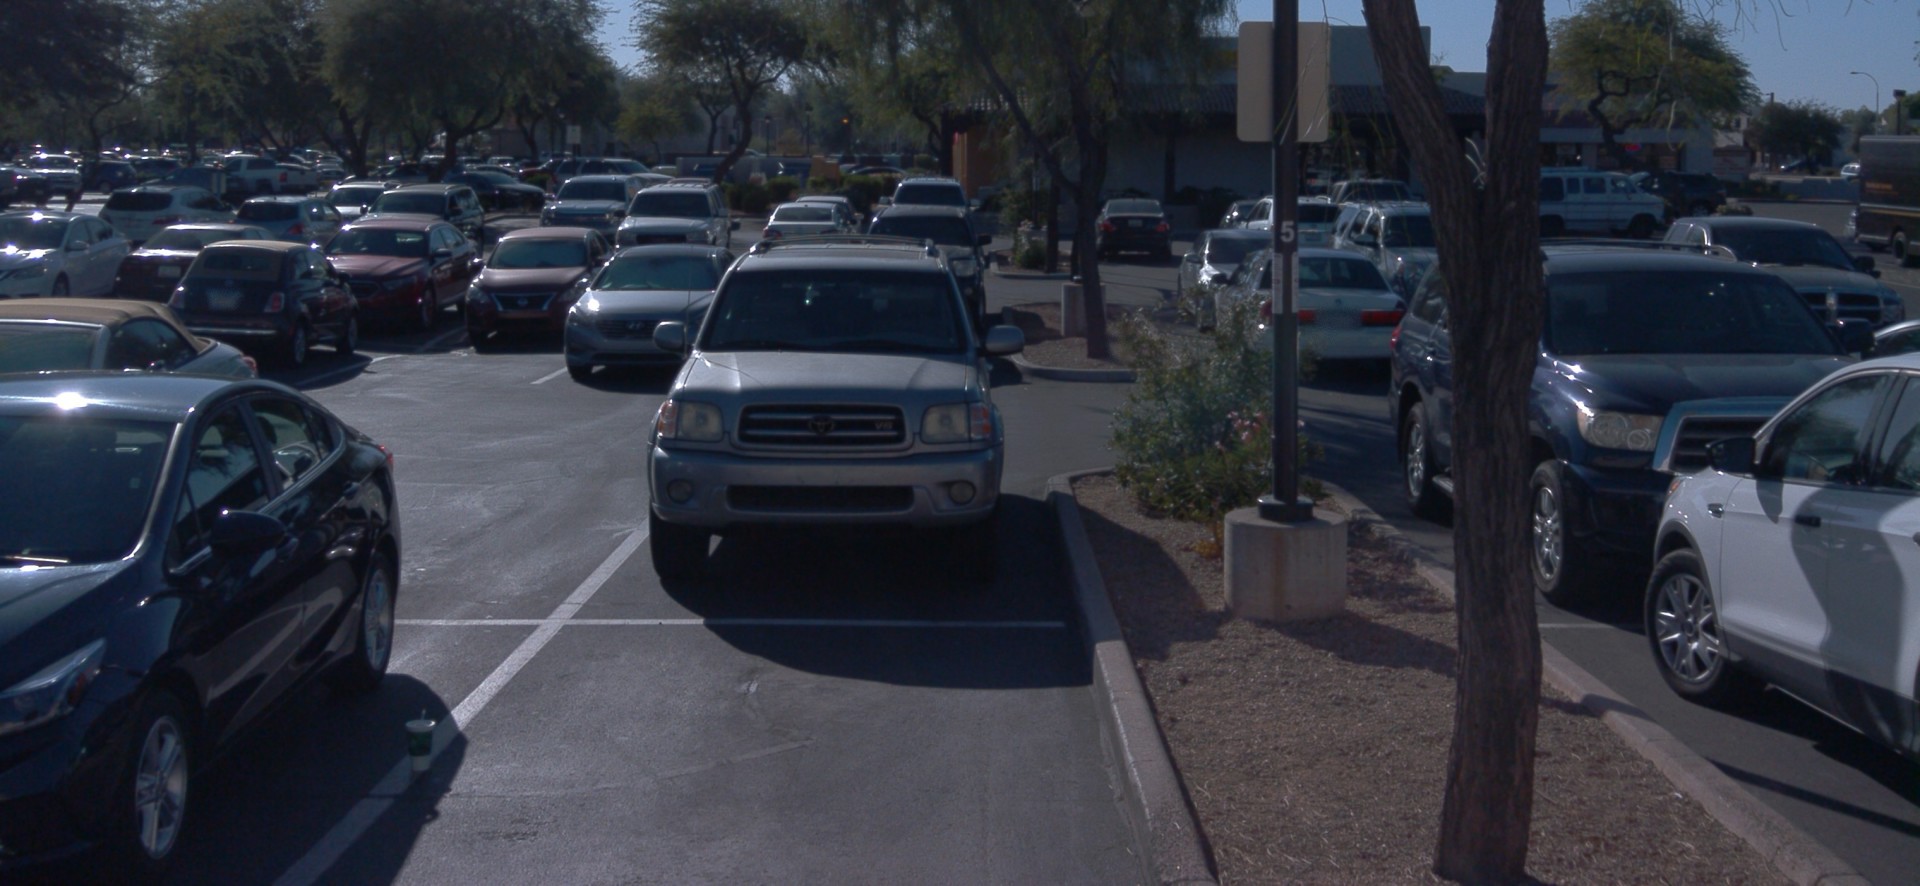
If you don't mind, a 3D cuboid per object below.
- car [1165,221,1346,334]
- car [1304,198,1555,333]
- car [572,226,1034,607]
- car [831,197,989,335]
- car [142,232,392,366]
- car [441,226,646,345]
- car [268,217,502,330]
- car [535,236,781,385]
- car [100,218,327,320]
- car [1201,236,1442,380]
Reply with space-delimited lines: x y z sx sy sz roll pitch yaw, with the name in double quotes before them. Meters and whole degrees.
"car" 4.389 -2.572 31.489 2.127 1.553 4.507 1 6 0
"car" 7.096 -2.792 32.033 2.482 1.891 5.237 0 5 -3
"car" -0.798 -0.408 13.388 2.382 1.941 5.207 1 5 0
"car" -0.658 -2.753 31.609 2.086 1.901 5.342 1 5 2
"car" -8.672 -1.890 26.299 1.730 1.533 3.845 1 5 3
"car" -6.043 -2.385 30.637 2.010 1.593 4.474 1 5 1
"car" -8.652 -2.651 31.718 2.086 1.562 4.913 1 6 1
"car" -3.589 -1.724 25.652 2.180 1.602 4.850 1 6 2
"car" -11.378 -2.727 31.959 1.905 1.433 4.261 1 6 1
"car" 4.366 -1.779 25.931 2.256 1.562 5.128 1 6 2
